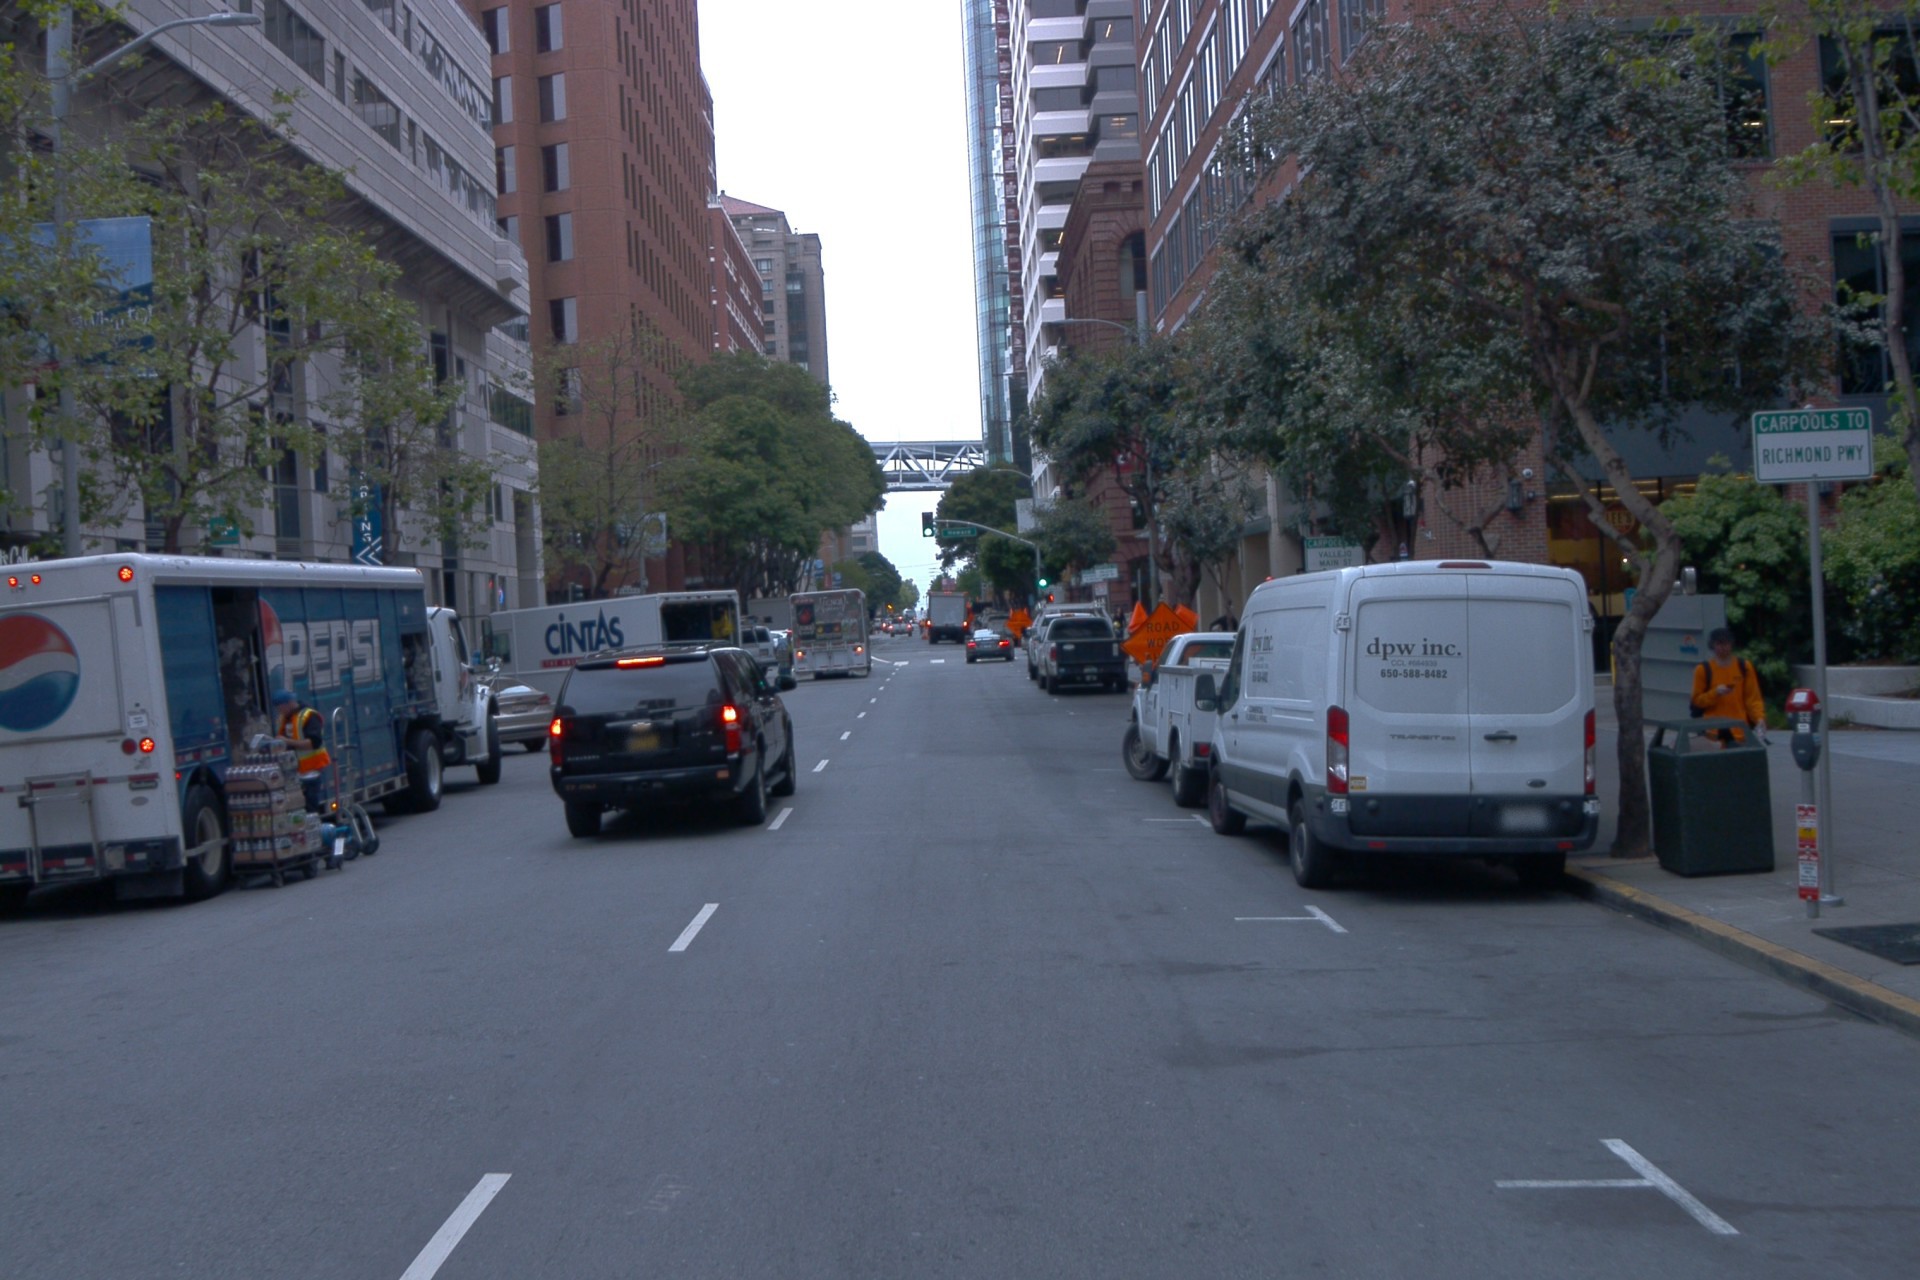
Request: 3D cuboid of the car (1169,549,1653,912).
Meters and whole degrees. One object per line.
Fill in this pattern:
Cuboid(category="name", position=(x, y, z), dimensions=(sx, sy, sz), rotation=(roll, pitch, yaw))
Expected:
Cuboid(category="car", position=(3.508, 0.601, 17.585), dimensions=(2.501, 2.560, 6.049), rotation=(0, 1, -3))

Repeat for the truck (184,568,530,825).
Cuboid(category="truck", position=(-7.896, 0.652, 27.725), dimensions=(2.964, 3.110, 5.684), rotation=(0, 1, 0))

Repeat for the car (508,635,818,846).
Cuboid(category="car", position=(-3.008, 0.944, 22.331), dimensions=(2.449, 1.929, 5.813), rotation=(0, 1, 1))

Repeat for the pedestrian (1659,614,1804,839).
Cuboid(category="pedestrian", position=(6.521, 0.707, 17.419), dimensions=(0.880, 1.850, 0.976), rotation=(0, 1, 2))

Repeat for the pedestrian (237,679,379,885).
Cuboid(category="pedestrian", position=(-6.195, 1.318, 19.532), dimensions=(0.989, 1.860, 0.829), rotation=(0, 1, 31))

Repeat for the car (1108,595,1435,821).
Cuboid(category="car", position=(3.390, 0.655, 23.923), dimensions=(2.613, 2.293, 5.986), rotation=(0, 1, -3))
